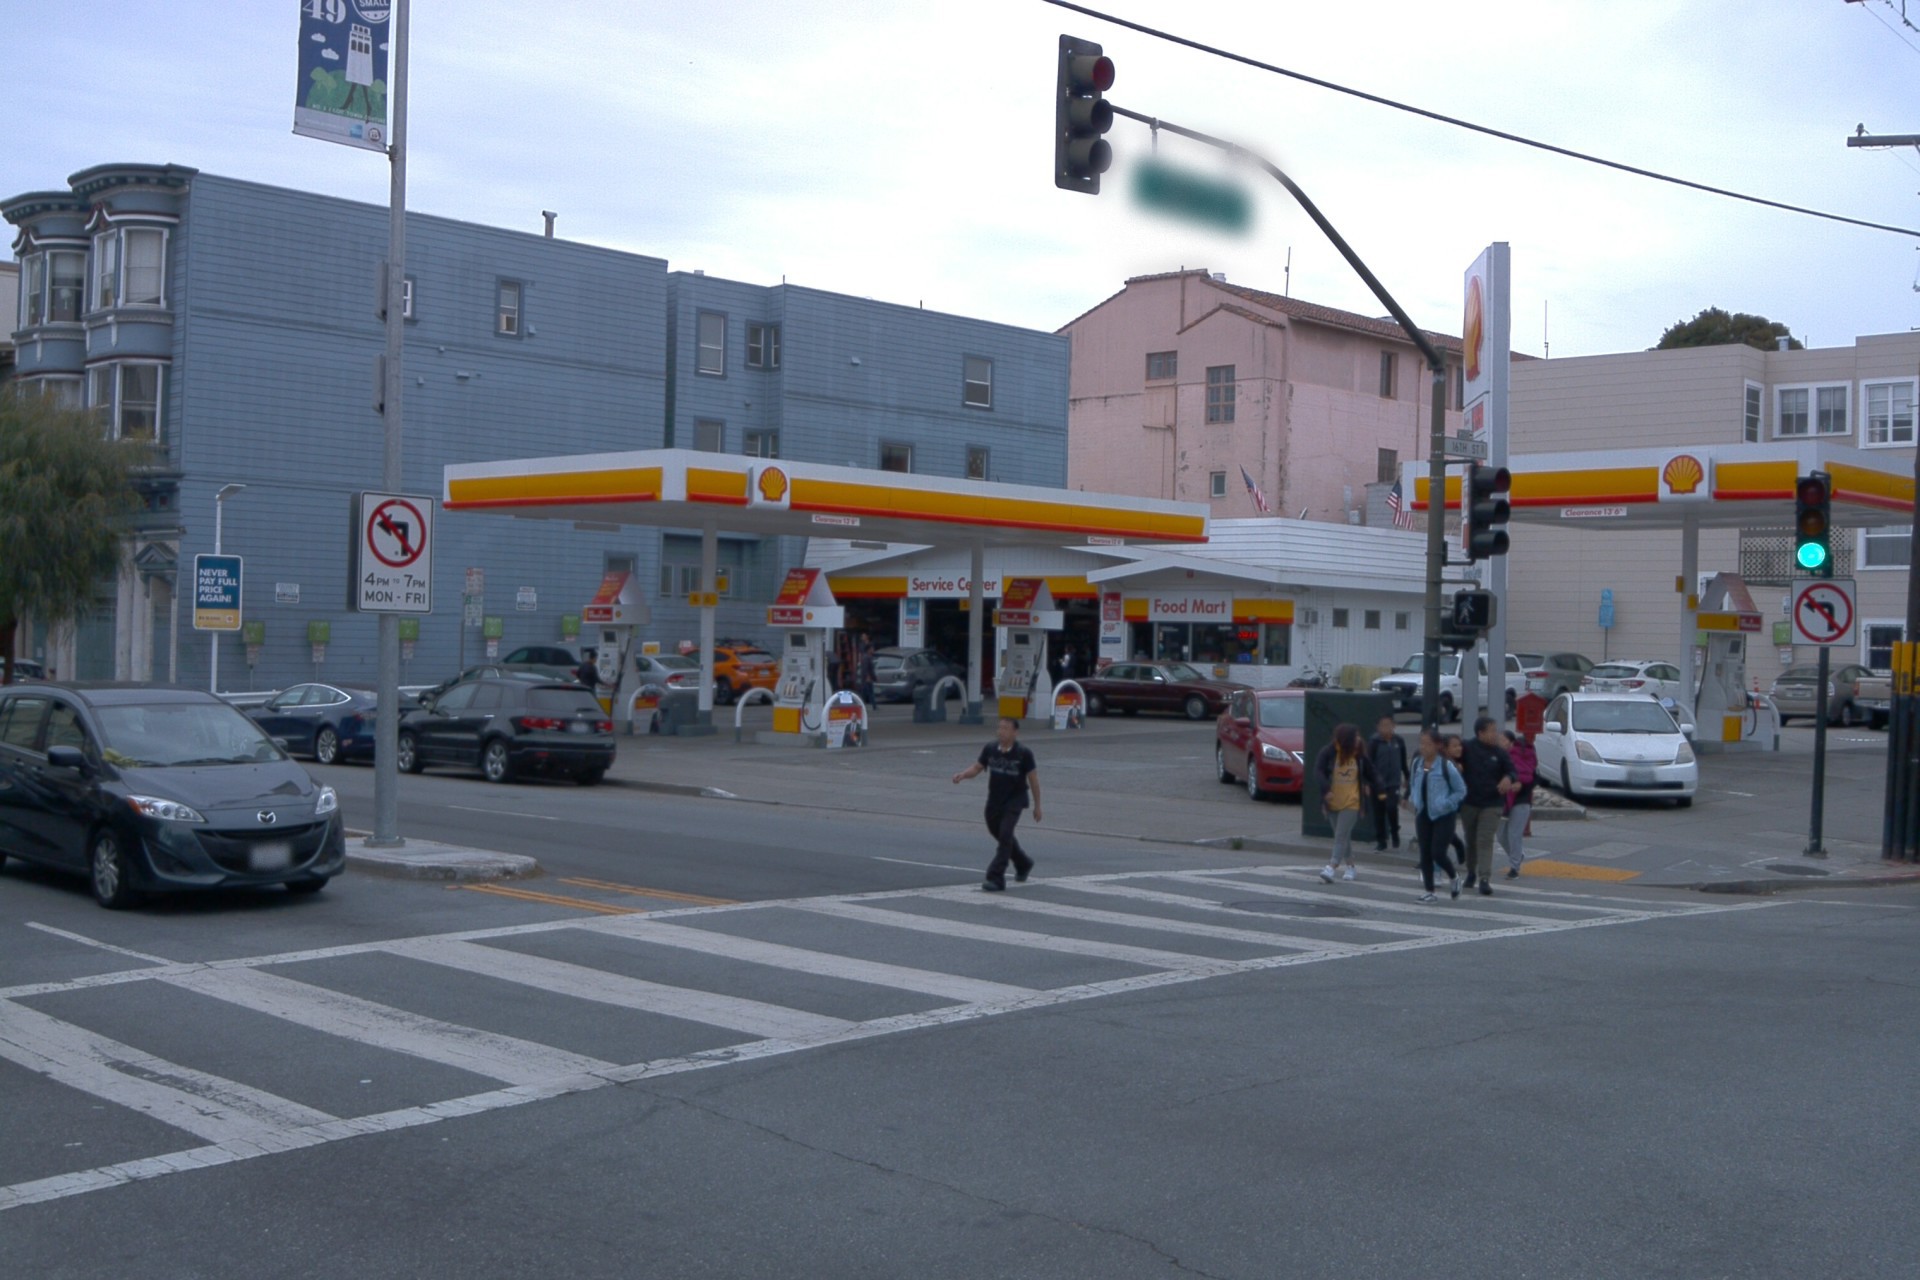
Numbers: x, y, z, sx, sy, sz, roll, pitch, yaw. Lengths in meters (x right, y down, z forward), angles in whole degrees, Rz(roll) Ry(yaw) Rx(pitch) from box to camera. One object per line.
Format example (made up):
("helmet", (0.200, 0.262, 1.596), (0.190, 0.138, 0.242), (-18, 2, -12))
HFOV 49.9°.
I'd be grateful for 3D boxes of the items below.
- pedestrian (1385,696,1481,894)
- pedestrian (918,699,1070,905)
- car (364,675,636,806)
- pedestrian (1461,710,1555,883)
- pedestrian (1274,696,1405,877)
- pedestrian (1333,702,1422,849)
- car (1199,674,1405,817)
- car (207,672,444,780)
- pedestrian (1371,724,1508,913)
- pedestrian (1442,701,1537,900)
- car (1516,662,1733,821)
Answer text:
("pedestrian", (4.448, 1.430, 19.393), (0.793, 1.760, 0.909), (0, 1, 18))
("pedestrian", (0.301, 1.336, 17.447), (0.836, 1.610, 1.132), (1, 1, 30))
("car", (-7.268, 1.504, 32.407), (4.261, 1.765, 2.158), (1, 1, 44))
("pedestrian", (5.671, 1.601, 21.353), (0.708, 1.700, 0.709), (1, 1, 40))
("pedestrian", (3.586, 1.353, 19.481), (0.925, 1.600, 0.846), (1, 1, 38))
("pedestrian", (4.533, 1.453, 22.402), (0.709, 1.520, 0.676), (1, 1, 38))
("car", (4.776, 1.425, 29.539), (2.008, 1.720, 4.676), (0, 1, -2))
("car", (-11.106, 1.445, 35.992), (4.442, 1.620, 1.919), (1, 1, 42))
("pedestrian", (4.119, 1.508, 17.724), (0.753, 1.497, 0.954), (1, 1, 45))
("pedestrian", (4.976, 1.483, 19.392), (0.841, 1.770, 0.885), (0, 1, 14))
("car", (9.272, 1.340, 29.169), (2.093, 1.930, 4.522), (0, 1, 7))
